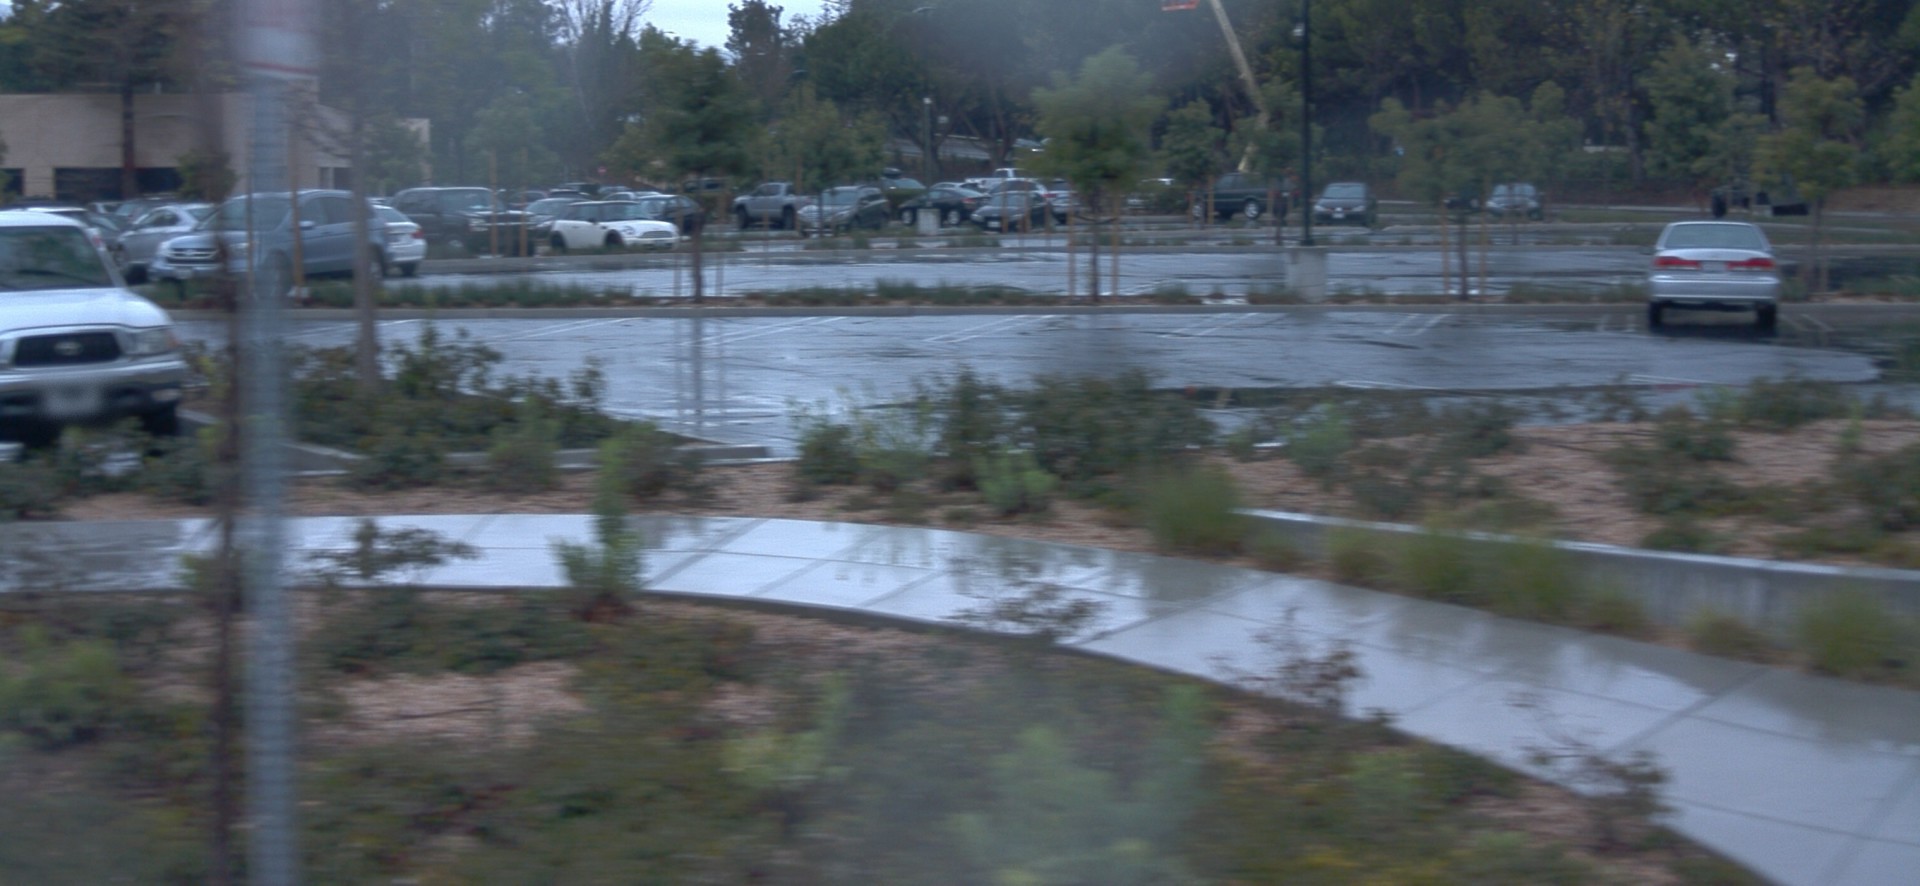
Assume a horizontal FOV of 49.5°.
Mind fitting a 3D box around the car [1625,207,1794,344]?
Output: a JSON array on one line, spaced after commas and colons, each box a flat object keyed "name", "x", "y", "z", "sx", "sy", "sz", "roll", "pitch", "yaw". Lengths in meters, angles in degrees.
[{"name": "car", "x": 10.593, "y": -2.432, "z": 29.567, "sx": 2.075, "sy": 1.753, "sz": 4.672, "roll": 2, "pitch": 5, "yaw": 19}]

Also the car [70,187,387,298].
[{"name": "car", "x": -10.730, "y": -2.999, "z": 30.966, "sx": 2.179, "sy": 1.504, "sz": 4.718, "roll": 2, "pitch": 5, "yaw": 15}]
